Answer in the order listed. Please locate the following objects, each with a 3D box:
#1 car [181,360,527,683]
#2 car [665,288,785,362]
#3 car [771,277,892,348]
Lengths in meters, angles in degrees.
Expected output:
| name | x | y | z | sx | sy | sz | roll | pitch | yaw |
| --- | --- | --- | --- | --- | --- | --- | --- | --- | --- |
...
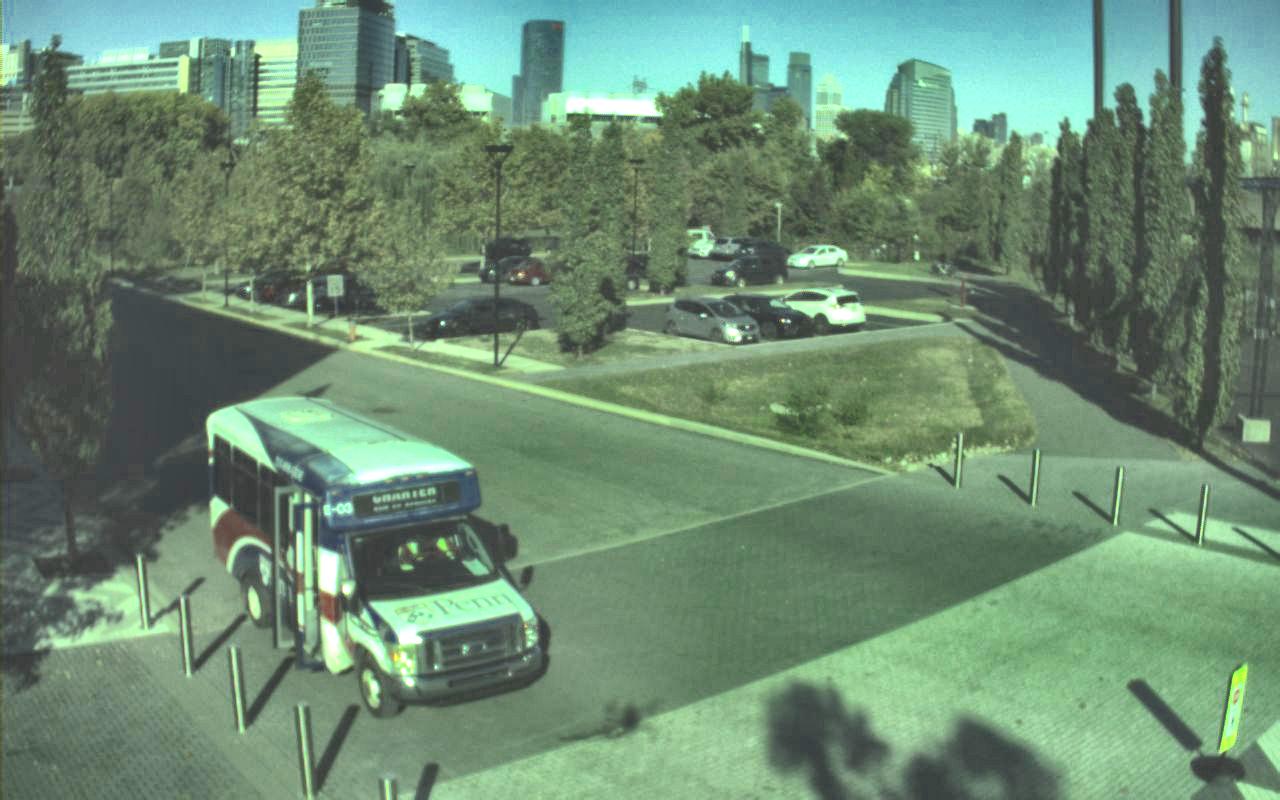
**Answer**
| name | x | y | z | sx | sy | sz | roll | pitch | yaw |
| --- | --- | --- | --- | --- | --- | --- | --- | --- | --- |
| car | -4.144 | 1.334 | 16.517 | 2.394 | 2.192 | 5.953 | -13 | 20 | -35 |
| car | 3.036 | -2.788 | 45.817 | 1.969 | 1.604 | 4.493 | -12 | 20 | -33 |
| car | 7.361 | -3.434 | 48.585 | 2.004 | 1.734 | 4.592 | -13 | 21 | -36 |
